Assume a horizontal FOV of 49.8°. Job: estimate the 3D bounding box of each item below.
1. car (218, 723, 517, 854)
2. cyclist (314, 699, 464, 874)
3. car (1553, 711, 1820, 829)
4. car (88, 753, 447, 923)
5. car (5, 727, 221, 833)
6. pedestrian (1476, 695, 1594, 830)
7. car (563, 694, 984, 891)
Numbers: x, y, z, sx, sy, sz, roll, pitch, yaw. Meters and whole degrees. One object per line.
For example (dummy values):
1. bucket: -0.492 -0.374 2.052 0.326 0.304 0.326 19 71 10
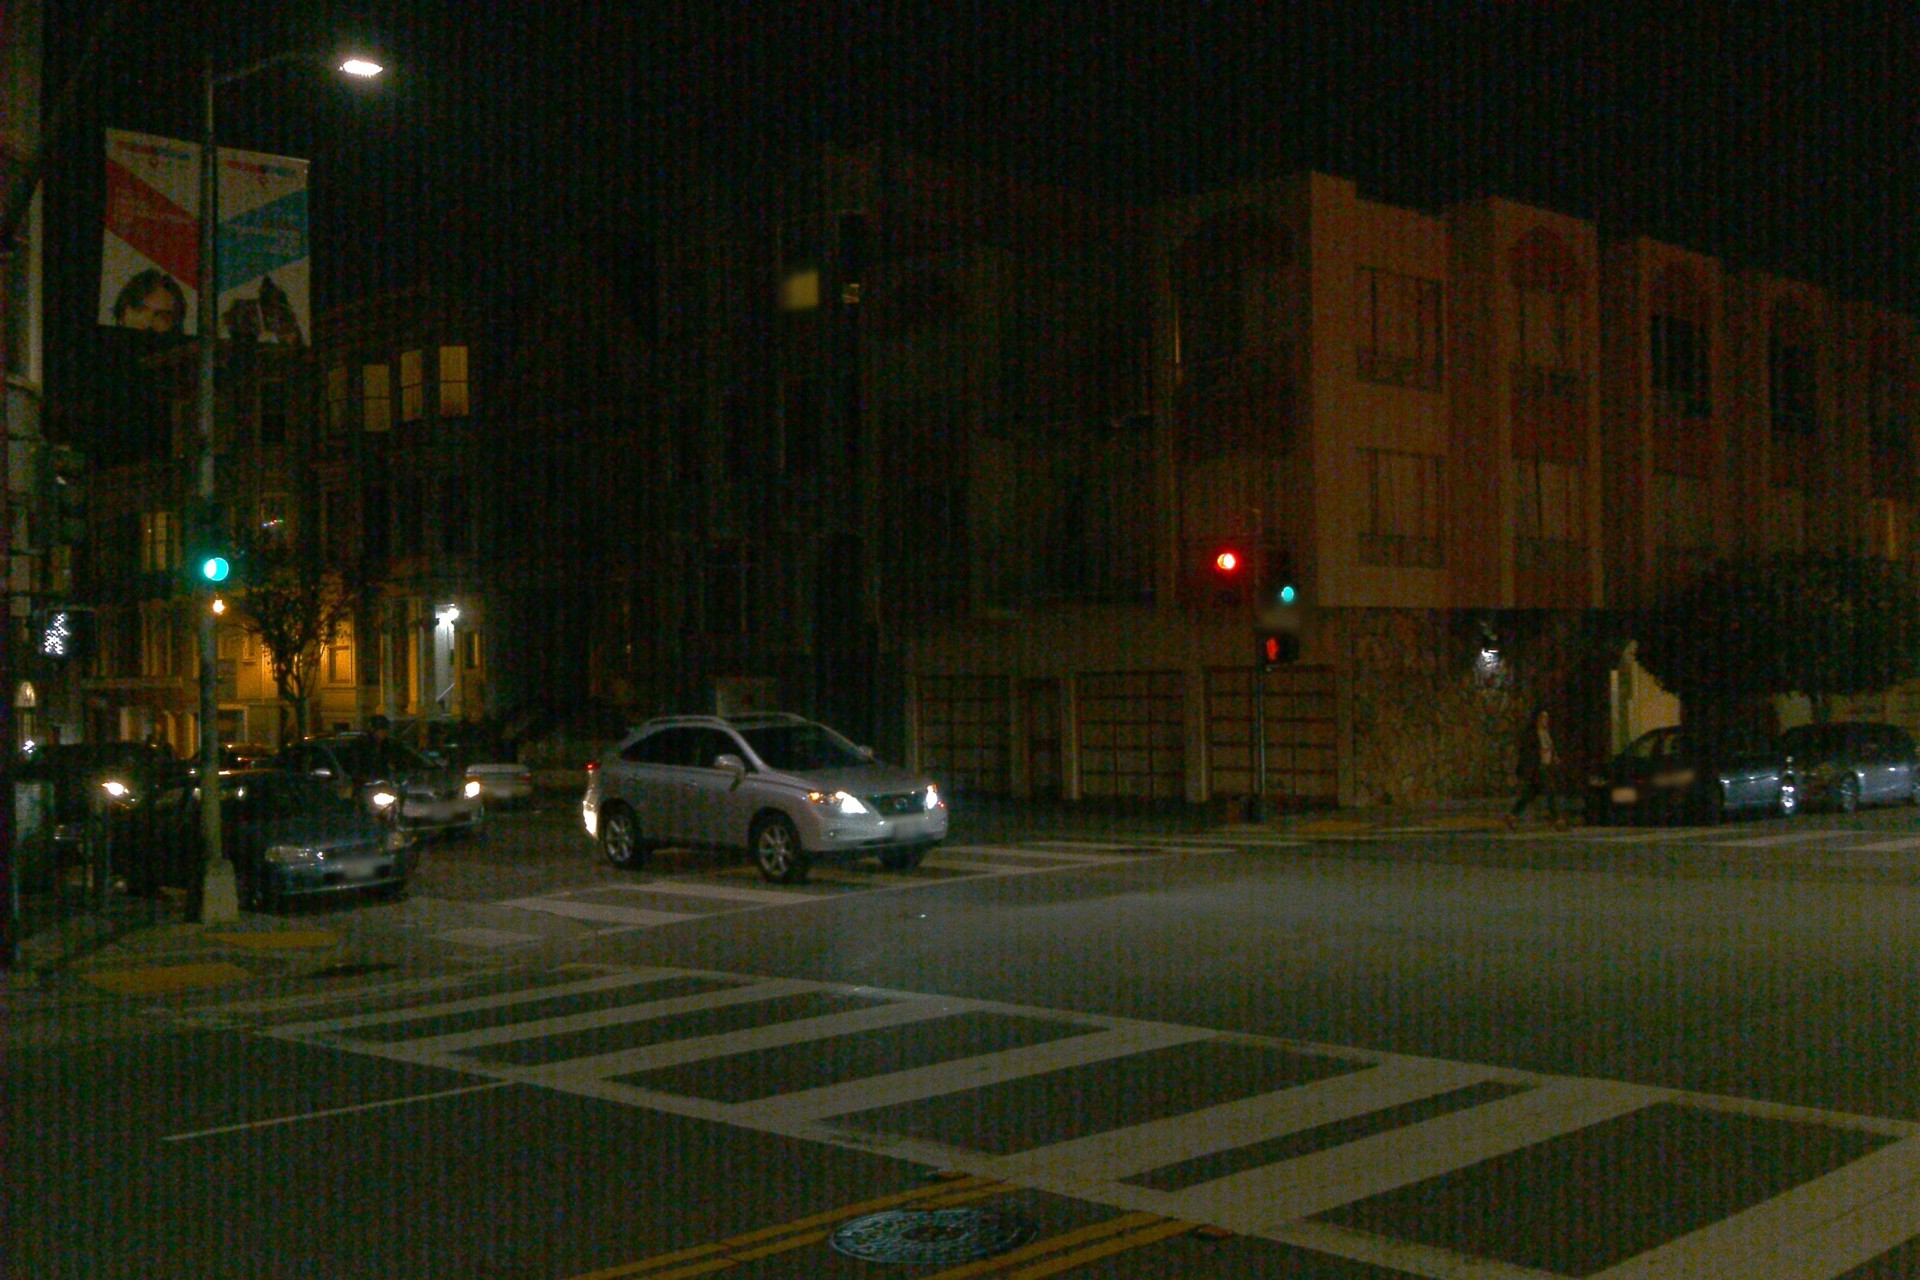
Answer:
1. car: -8.406 2.019 29.098 4.459 1.450 2.125 1 0 45
2. cyclist: -6.643 1.657 23.978 0.832 1.870 1.925 1 0 -44
3. car: 10.595 1.815 29.953 1.967 1.430 4.633 1 0 42
4. car: -7.496 2.033 22.146 1.946 1.350 4.278 1 0 -44
5. car: -14.717 2.364 35.763 2.021 1.480 4.494 1 0 -42
6. pedestrian: 7.649 1.606 27.479 1.175 1.690 0.935 1 0 45
7. car: -2.149 1.569 22.765 2.139 1.760 4.613 1 0 -45
